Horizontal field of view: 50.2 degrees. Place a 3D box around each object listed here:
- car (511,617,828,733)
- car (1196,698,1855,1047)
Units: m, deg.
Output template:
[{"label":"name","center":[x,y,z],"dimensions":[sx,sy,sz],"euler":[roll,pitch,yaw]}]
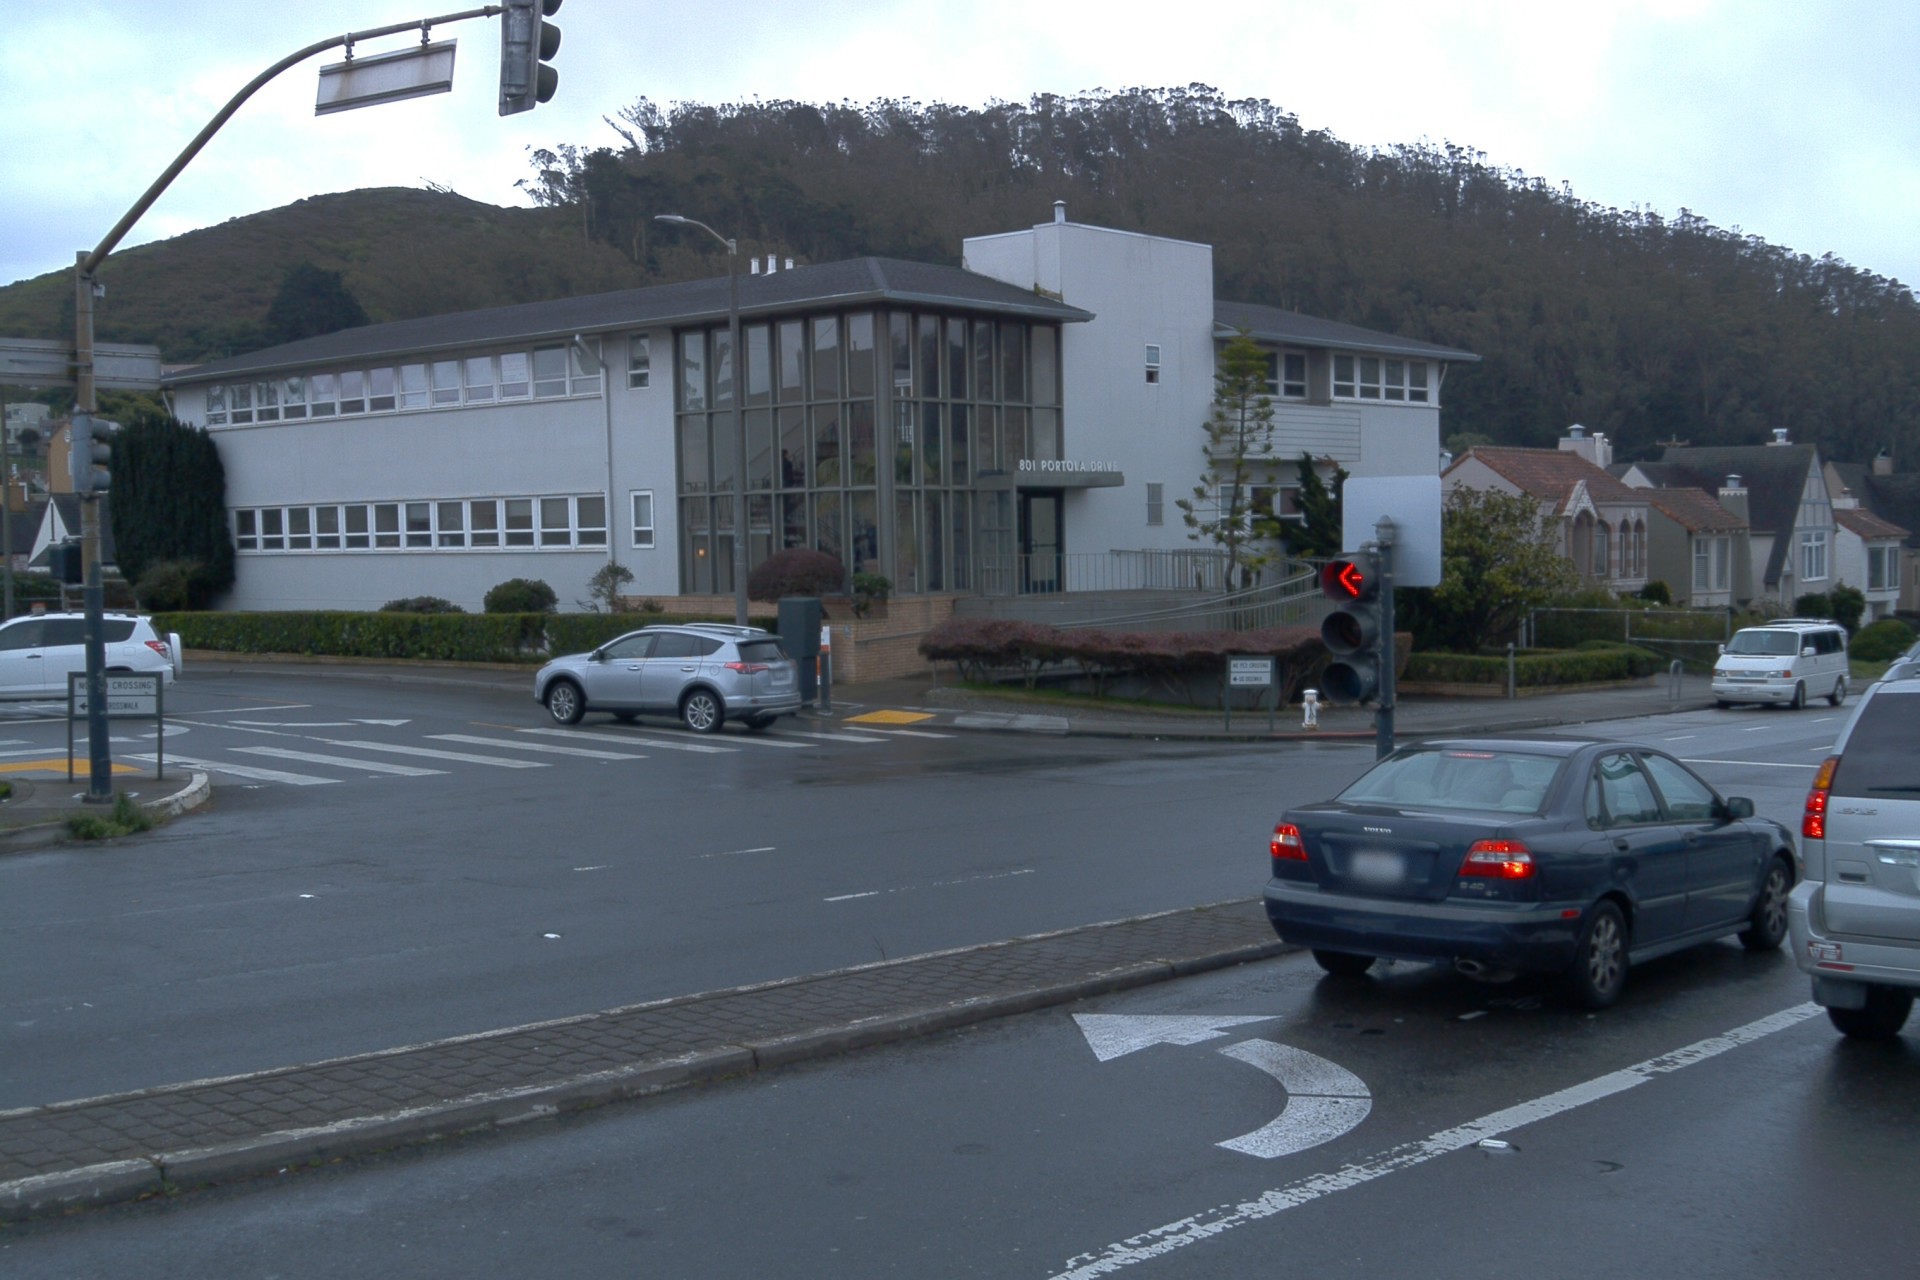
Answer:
[{"label":"car","center":[-4.711,0.506,33.193],"dimensions":[4.655,1.740,2.200],"euler":[1,1,28]},{"label":"car","center":[3.469,1.177,12.054],"dimensions":[1.961,1.500,4.296],"euler":[1,1,43]}]
